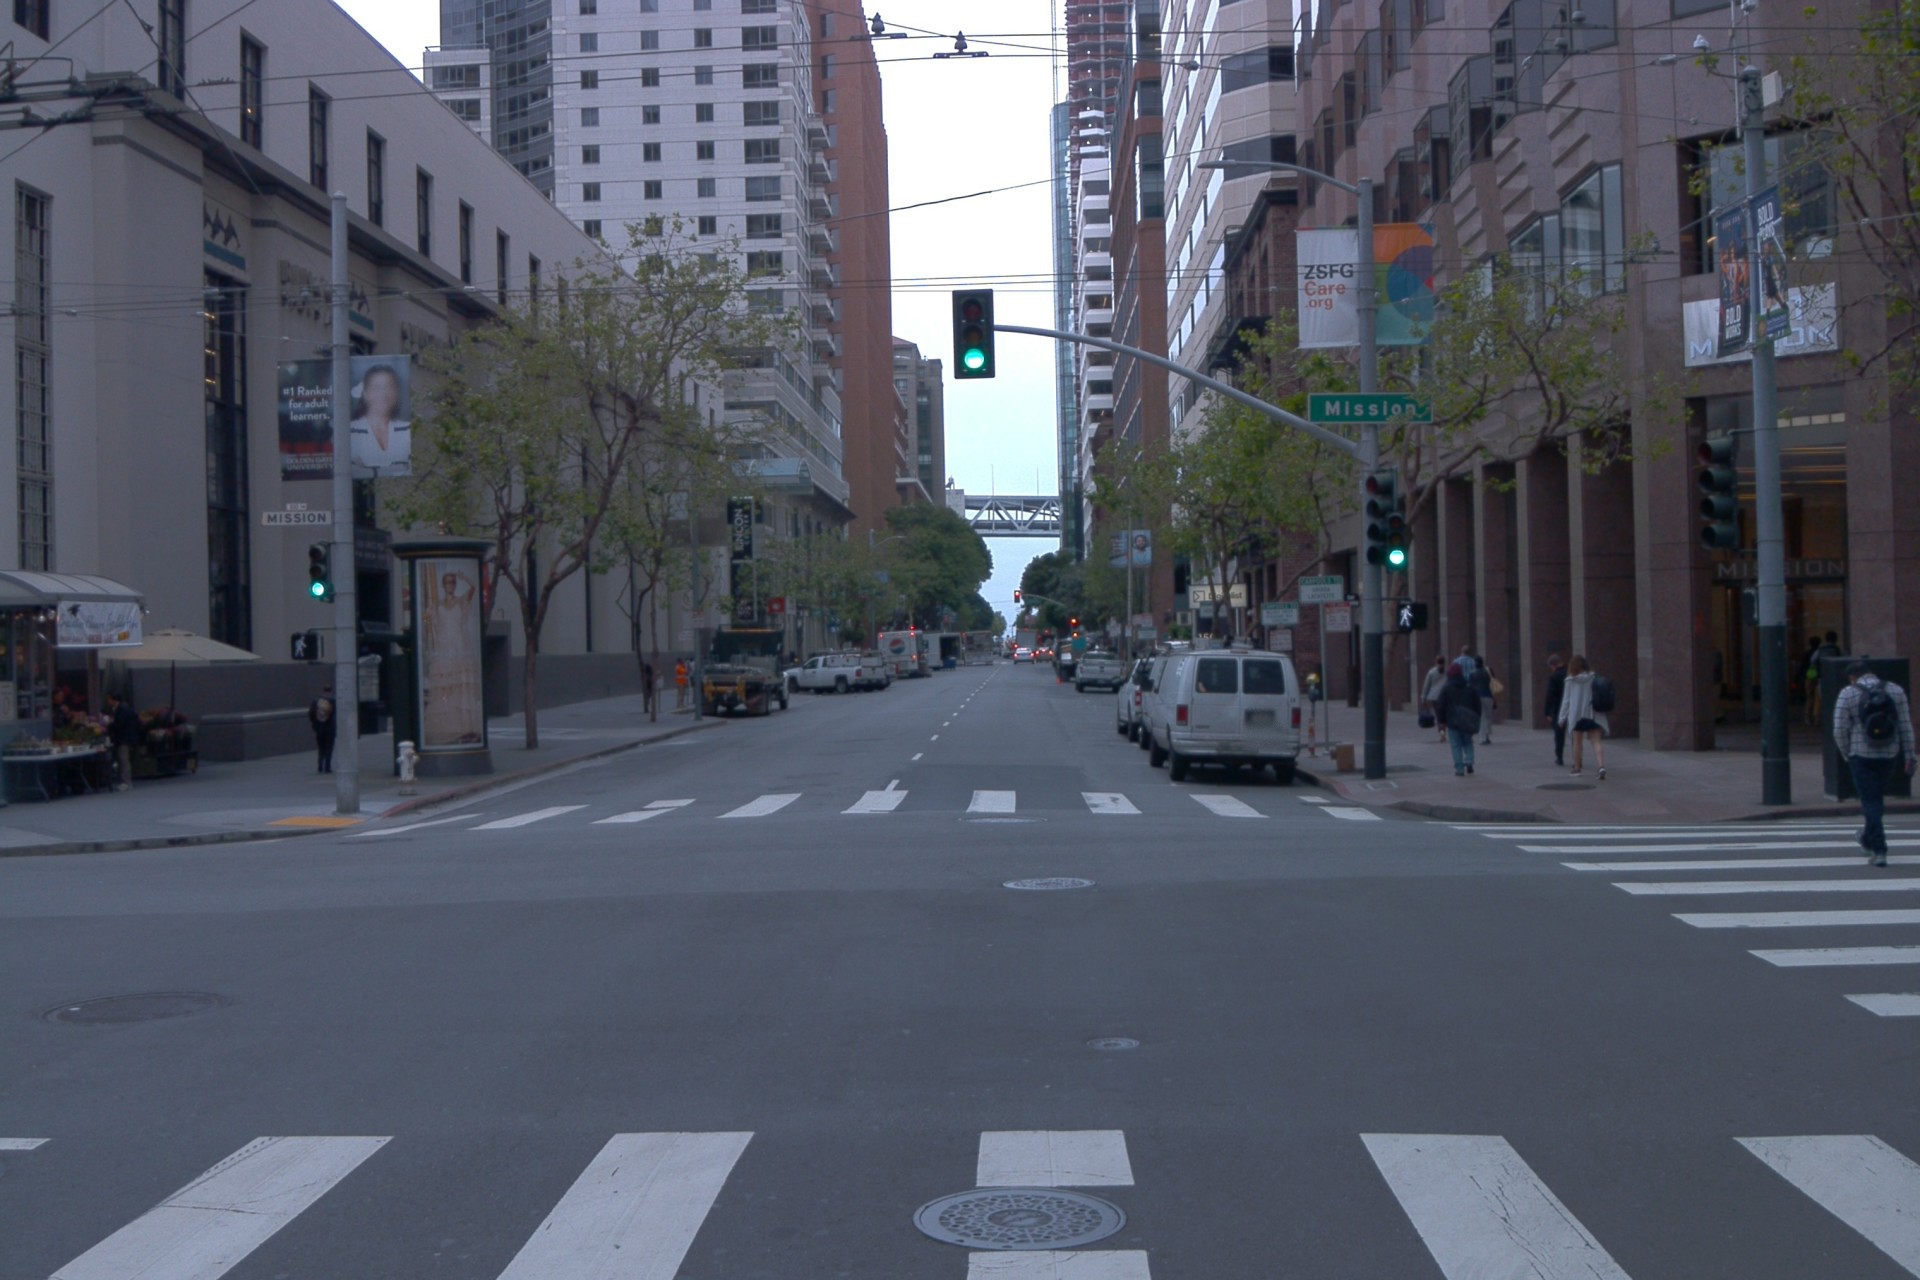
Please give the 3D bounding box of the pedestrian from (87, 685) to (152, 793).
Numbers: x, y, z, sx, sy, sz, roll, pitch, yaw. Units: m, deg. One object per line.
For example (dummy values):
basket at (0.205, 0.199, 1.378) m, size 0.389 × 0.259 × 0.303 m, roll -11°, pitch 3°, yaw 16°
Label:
pedestrian at (-13.990, 1.633, 34.250) m, size 0.753 × 1.746 × 0.847 m, roll 0°, pitch 1°, yaw -3°

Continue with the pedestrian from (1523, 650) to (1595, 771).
pedestrian at (8.842, 1.030, 30.379) m, size 0.856 × 1.736 × 0.997 m, roll 0°, pitch 1°, yaw 7°

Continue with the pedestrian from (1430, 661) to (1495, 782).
pedestrian at (7.278, 1.171, 29.824) m, size 0.758 × 1.713 × 0.969 m, roll 0°, pitch 1°, yaw 4°

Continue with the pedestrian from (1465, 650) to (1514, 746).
pedestrian at (9.298, 1.012, 36.134) m, size 0.668 × 1.666 × 0.852 m, roll 0°, pitch 1°, yaw 2°

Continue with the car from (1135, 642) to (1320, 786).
car at (4.289, 1.128, 33.882) m, size 2.314 × 2.100 × 5.500 m, roll 0°, pitch 1°, yaw 0°

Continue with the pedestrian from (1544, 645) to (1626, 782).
pedestrian at (8.653, 1.005, 28.482) m, size 0.843 × 1.856 × 0.961 m, roll 0°, pitch 1°, yaw 0°

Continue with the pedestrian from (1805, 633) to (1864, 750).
pedestrian at (13.588, 0.780, 31.925) m, size 0.785 × 1.775 × 1.046 m, roll 0°, pitch 1°, yaw 26°
